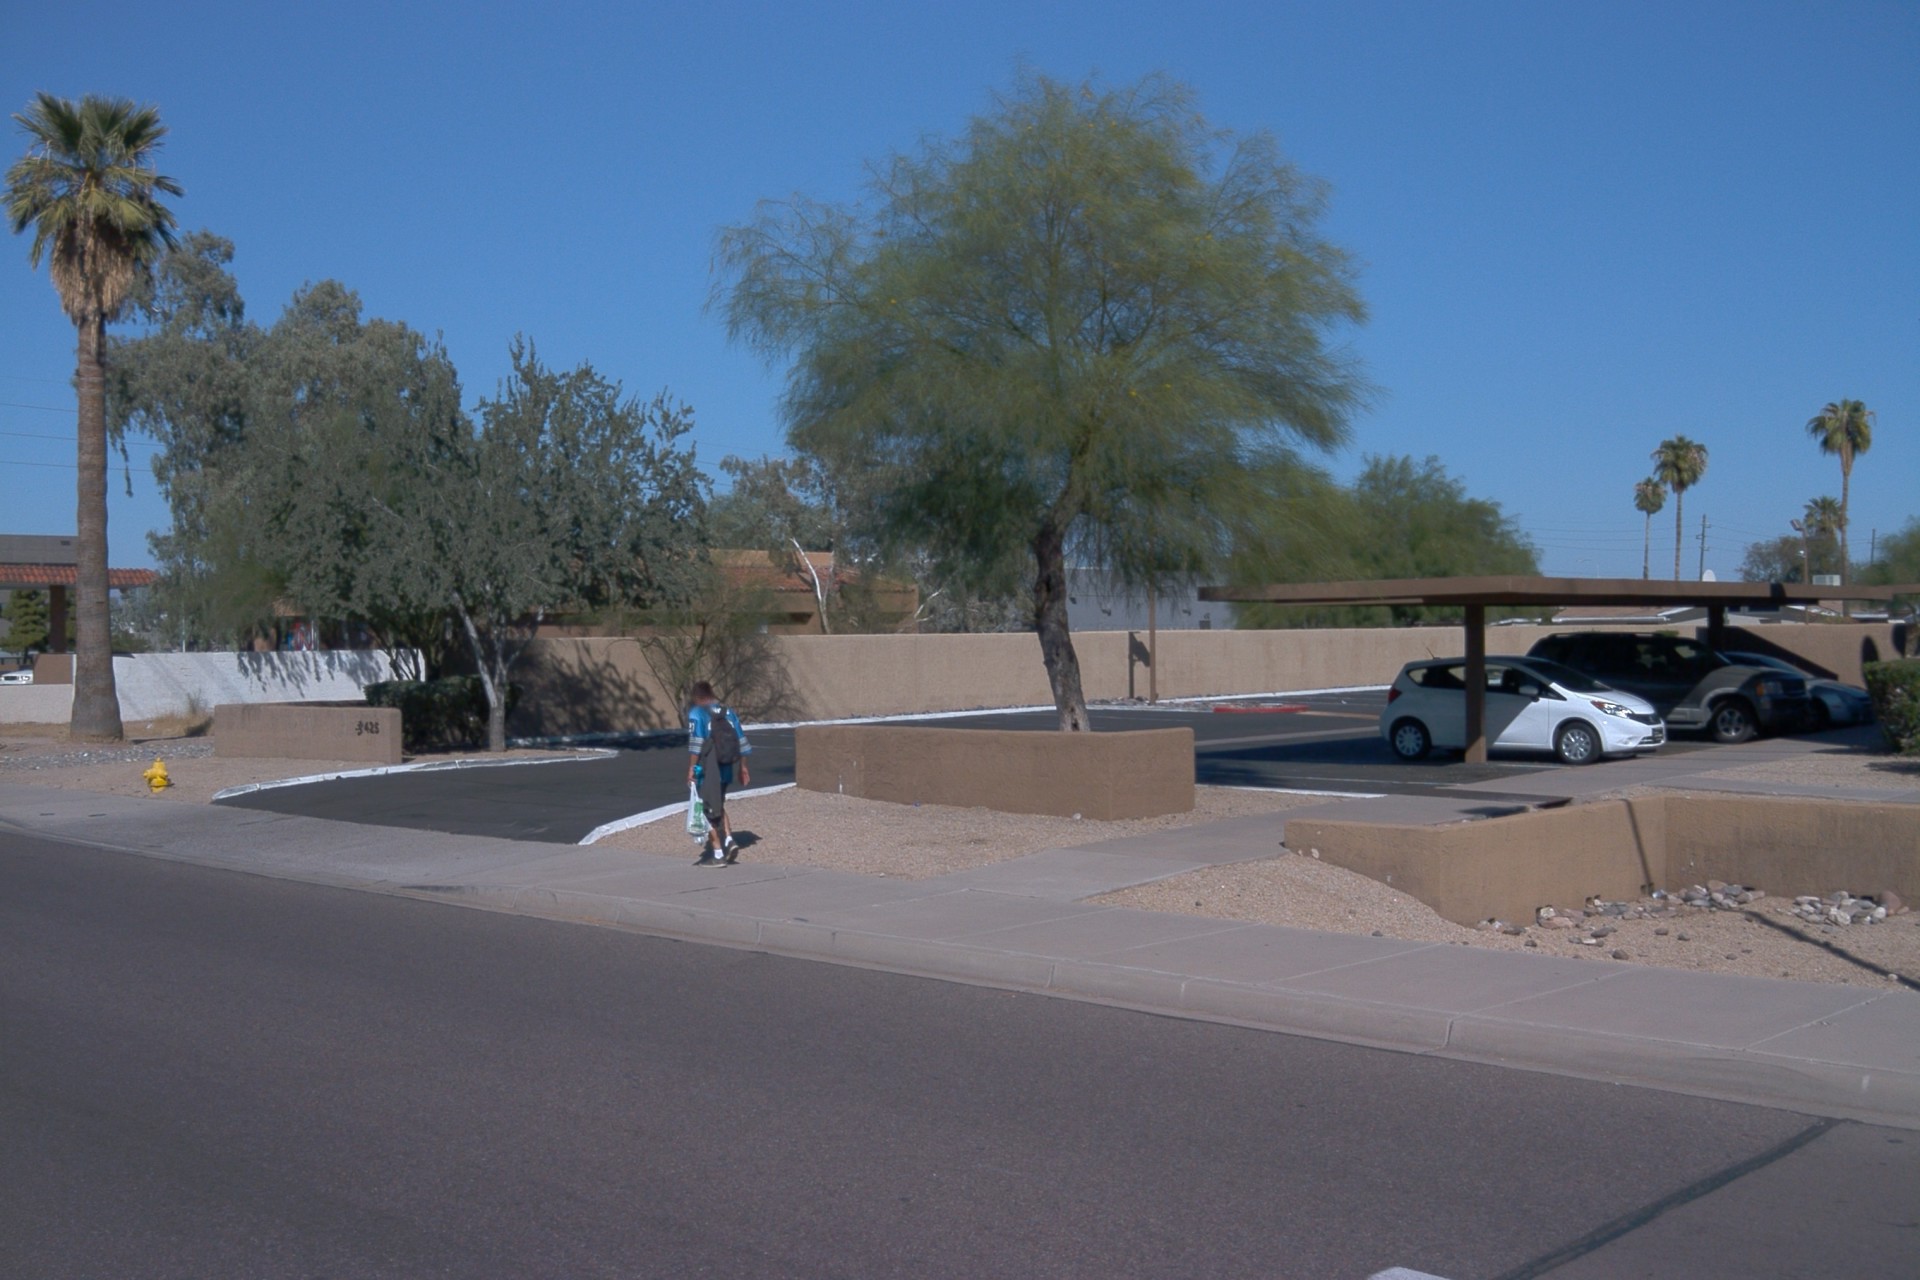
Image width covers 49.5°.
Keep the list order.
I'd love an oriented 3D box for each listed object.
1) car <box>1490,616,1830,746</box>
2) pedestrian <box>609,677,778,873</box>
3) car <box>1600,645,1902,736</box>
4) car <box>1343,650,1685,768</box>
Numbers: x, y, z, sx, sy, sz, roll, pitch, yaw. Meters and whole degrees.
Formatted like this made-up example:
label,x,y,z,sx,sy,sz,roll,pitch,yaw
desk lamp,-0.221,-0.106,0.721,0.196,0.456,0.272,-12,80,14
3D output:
label,x,y,z,sx,sy,sz,roll,pitch,yaw
car,11.481,0.659,34.417,4.980,1.990,1.944,-1,-1,44
pedestrian,-2.487,1.226,19.459,1.144,1.750,1.069,1,-1,-44
car,13.773,0.857,36.462,4.569,1.500,1.858,-1,-1,44
car,7.985,0.958,30.282,4.415,1.600,1.918,-1,-1,42
